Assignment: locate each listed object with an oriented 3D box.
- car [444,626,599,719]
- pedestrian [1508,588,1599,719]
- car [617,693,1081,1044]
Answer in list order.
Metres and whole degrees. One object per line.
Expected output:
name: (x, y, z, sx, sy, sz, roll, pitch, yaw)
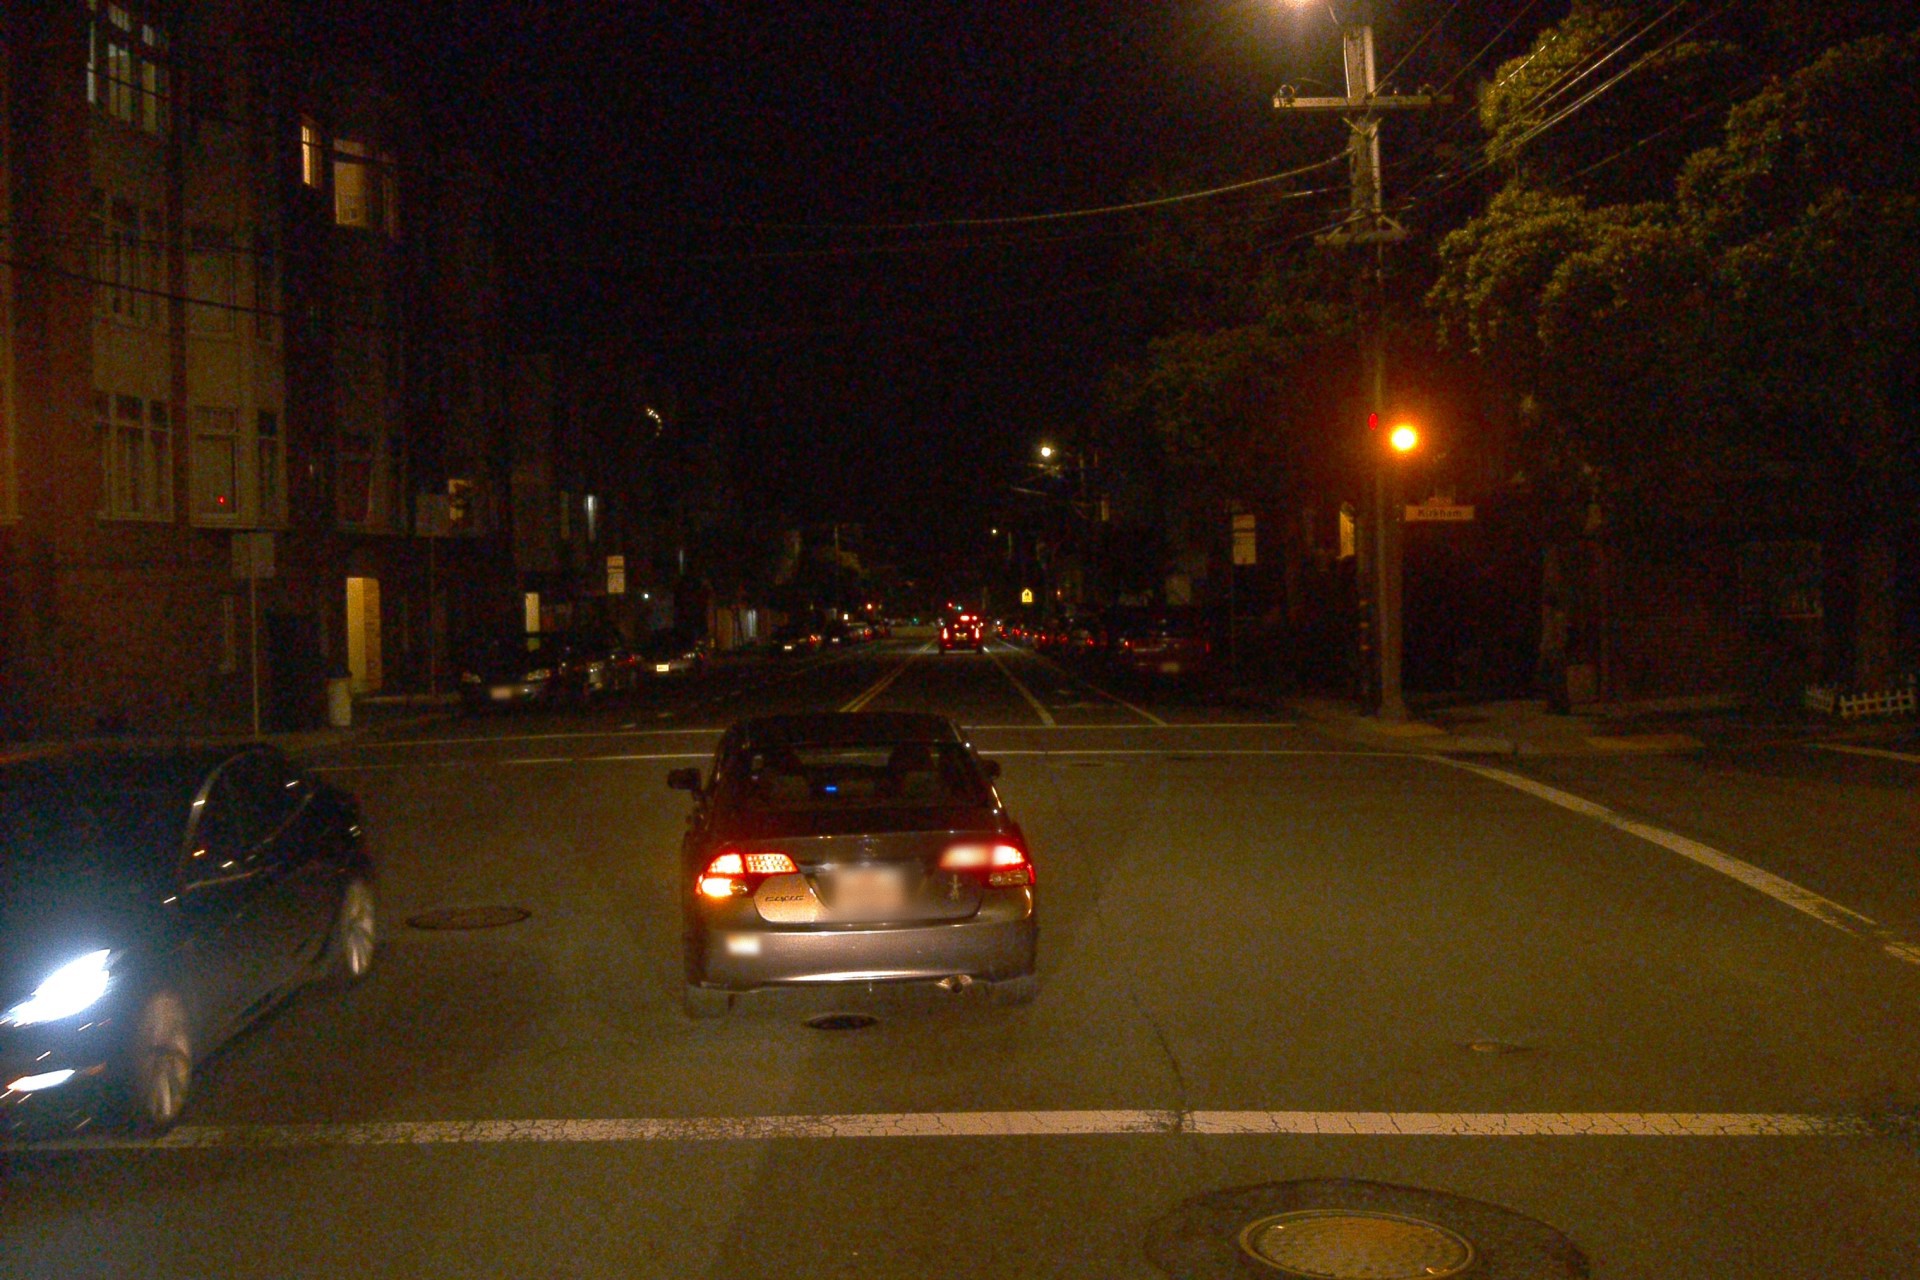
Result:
car: (-7.901, 0.544, 37.178, 1.948, 1.580, 4.098, 1, 0, 0)
pedestrian: (7.742, 0.176, 26.705, 0.936, 1.691, 0.623, 0, 0, -15)
car: (-0.662, 1.088, 11.489, 2.070, 1.420, 4.589, 0, 0, -4)
